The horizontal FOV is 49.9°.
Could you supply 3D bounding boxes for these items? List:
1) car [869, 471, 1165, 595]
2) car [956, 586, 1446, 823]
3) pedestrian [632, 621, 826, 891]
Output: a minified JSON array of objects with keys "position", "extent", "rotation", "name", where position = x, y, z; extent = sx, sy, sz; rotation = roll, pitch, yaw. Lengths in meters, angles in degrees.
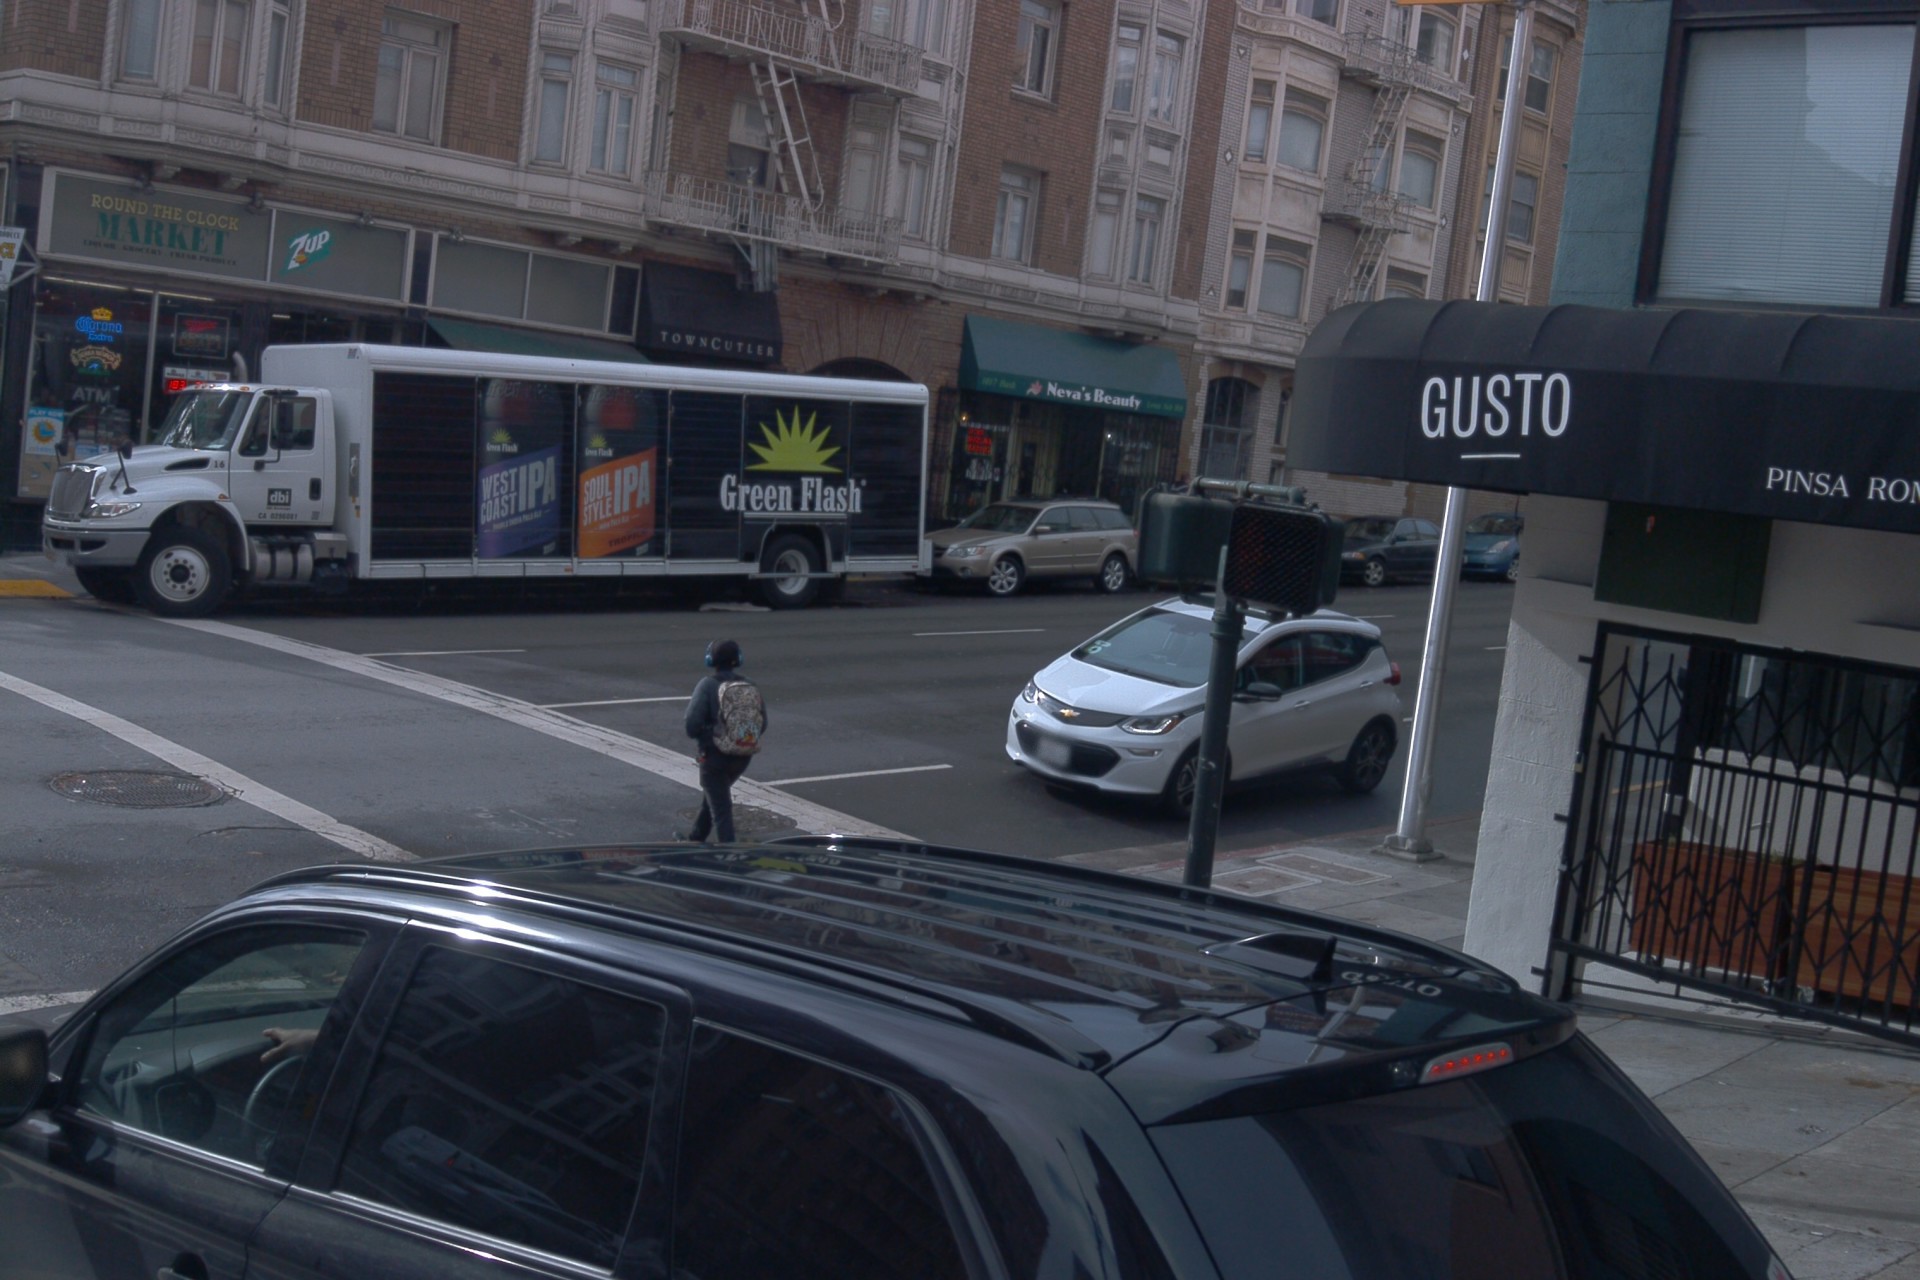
[{"position":[1.008,-1.679,33.637],"extent":[2.182,1.770,4.833],"rotation":[2,1,42],"name":"car"},{"position":[2.180,0.475,17.774],"extent":[2.062,1.780,4.279],"rotation":[2,1,42],"name":"car"},{"position":[-1.436,0.686,12.803],"extent":[0.929,1.590,0.750],"rotation":[2,1,43],"name":"pedestrian"}]
